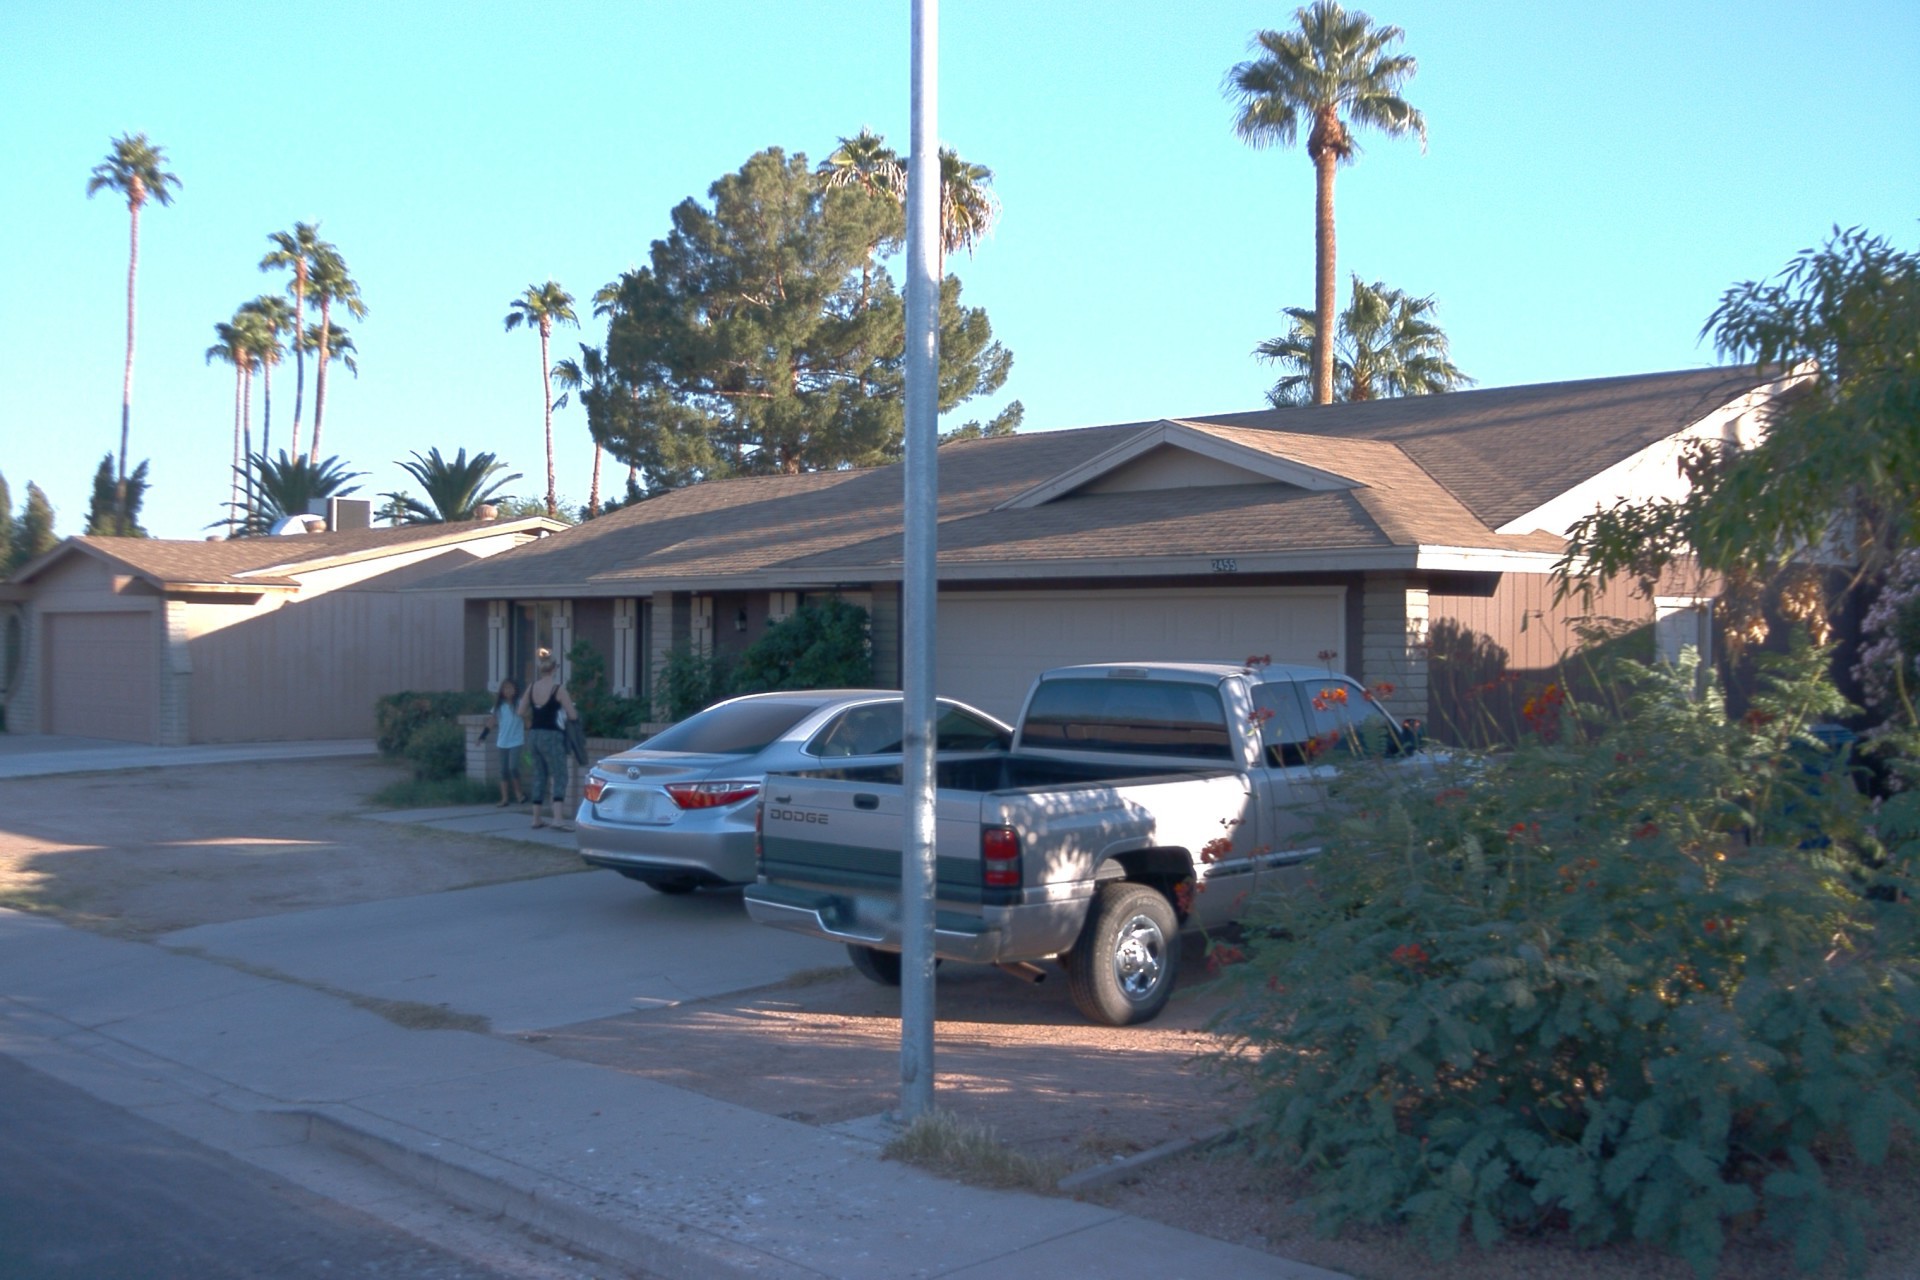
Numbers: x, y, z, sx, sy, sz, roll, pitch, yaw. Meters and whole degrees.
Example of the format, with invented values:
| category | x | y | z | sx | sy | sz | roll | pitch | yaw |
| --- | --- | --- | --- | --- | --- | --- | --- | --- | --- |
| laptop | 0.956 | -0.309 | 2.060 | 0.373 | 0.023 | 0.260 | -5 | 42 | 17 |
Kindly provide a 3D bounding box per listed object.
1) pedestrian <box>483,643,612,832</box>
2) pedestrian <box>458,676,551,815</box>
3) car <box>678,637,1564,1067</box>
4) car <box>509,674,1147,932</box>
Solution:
| category | x | y | z | sx | sy | sz | roll | pitch | yaw |
| --- | --- | --- | --- | --- | --- | --- | --- | --- | --- |
| pedestrian | -3.928 | 0.907 | 19.862 | 0.877 | 1.750 | 0.826 | 1 | 0 | 23 |
| pedestrian | -4.800 | 1.098 | 21.985 | 0.758 | 1.430 | 0.743 | 1 | 0 | 6 |
| car | 1.217 | 1.022 | 12.532 | 2.409 | 2.000 | 5.468 | 0 | 0 | 43 |
| car | -0.859 | 1.100 | 15.953 | 2.133 | 1.640 | 4.666 | 0 | 0 | 43 |
